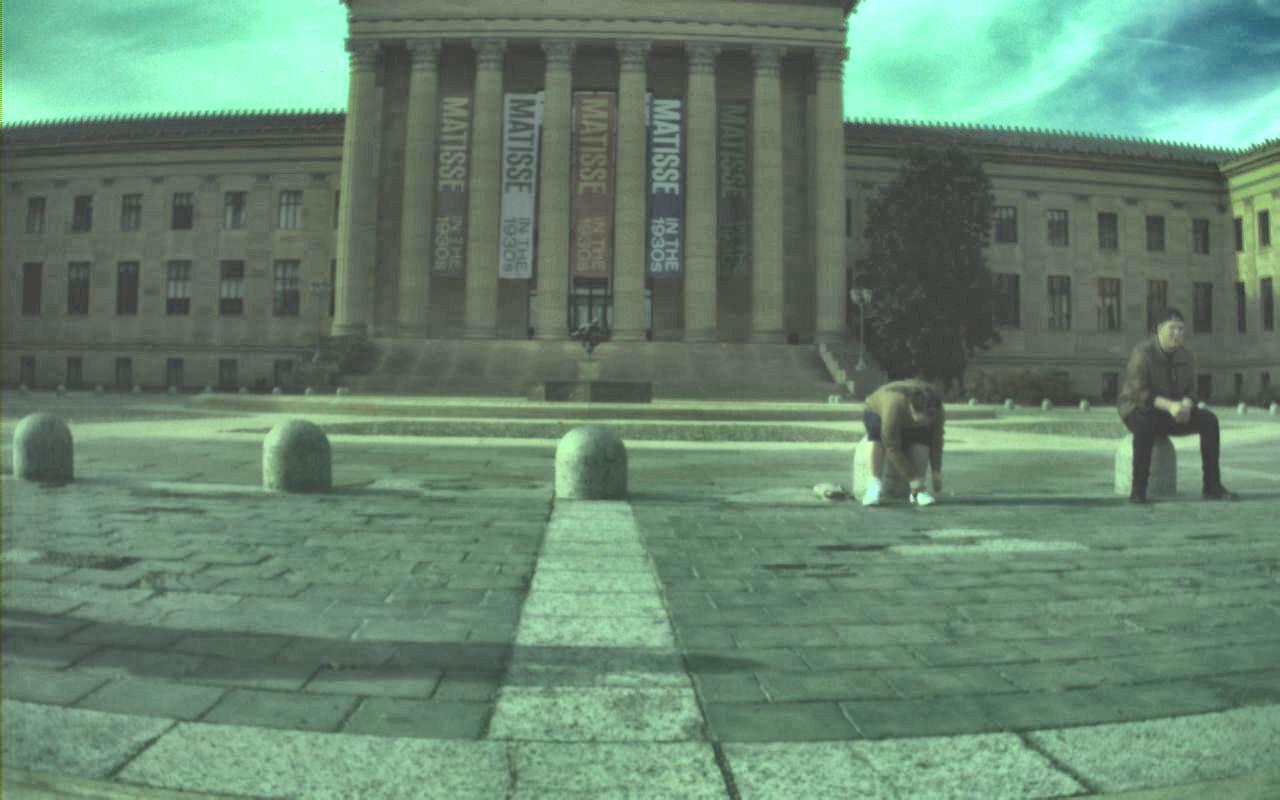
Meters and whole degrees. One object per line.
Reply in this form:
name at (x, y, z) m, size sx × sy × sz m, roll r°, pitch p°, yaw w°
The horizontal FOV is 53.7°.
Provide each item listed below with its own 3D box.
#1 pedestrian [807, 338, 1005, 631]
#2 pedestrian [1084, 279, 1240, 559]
pedestrian at (1.626, 0.477, 7.581) m, size 0.845 × 1.676 × 0.853 m, roll 0°, pitch 0°, yaw -28°
pedestrian at (3.500, 0.129, 7.864) m, size 0.813 × 1.775 × 0.818 m, roll 0°, pitch 0°, yaw -2°
